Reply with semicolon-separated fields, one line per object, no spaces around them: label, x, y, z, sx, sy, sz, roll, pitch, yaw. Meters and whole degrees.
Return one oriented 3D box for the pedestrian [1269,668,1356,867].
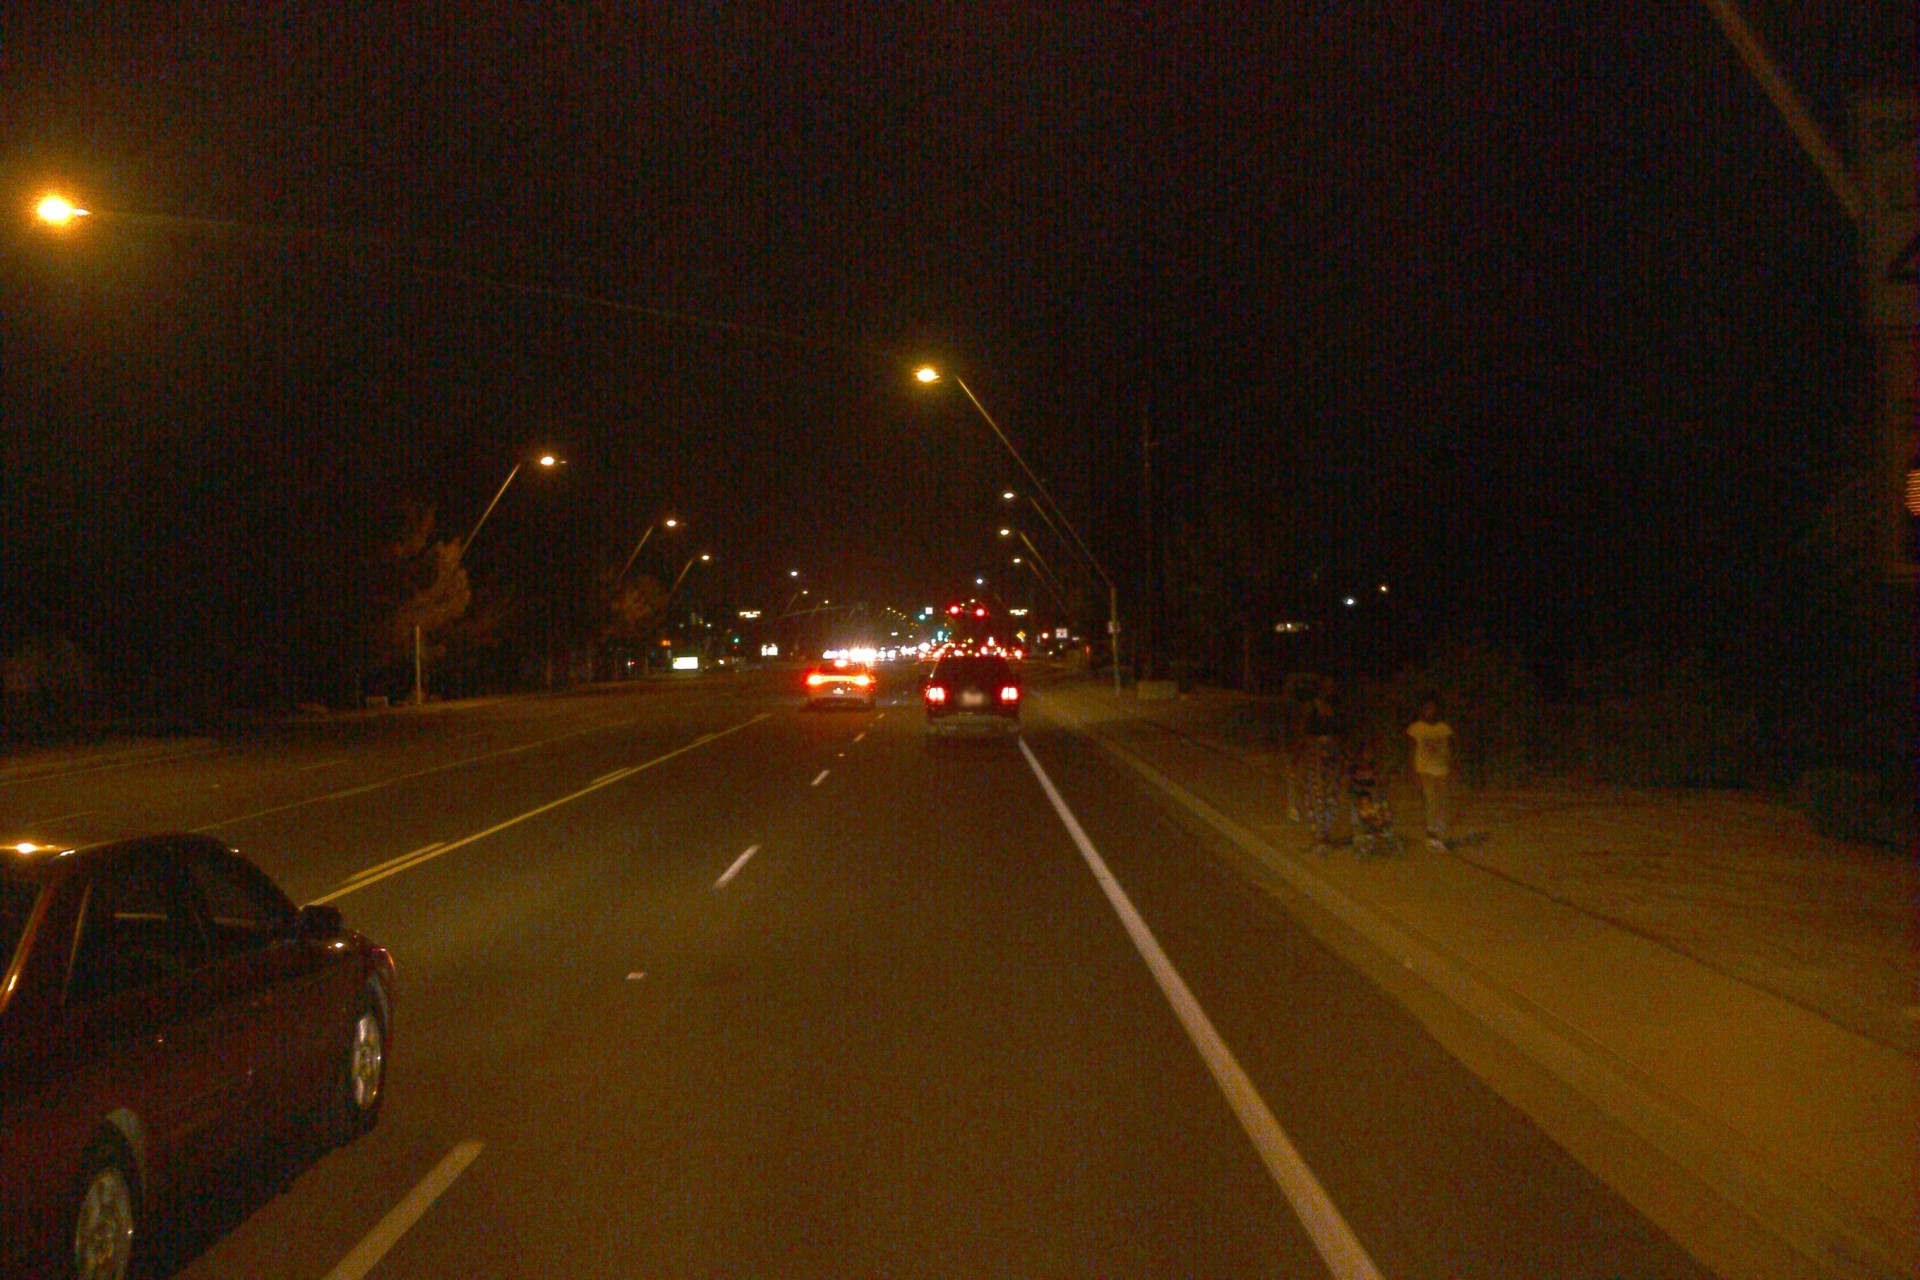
pedestrian;3.189;1.135;18.793;0.630;1.750;0.997;0;0;1

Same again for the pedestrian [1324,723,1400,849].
pedestrian;3.658;1.321;18.853;0.538;1.110;0.626;0;0;-3

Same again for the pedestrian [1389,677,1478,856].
pedestrian;4.179;1.105;18.296;0.601;1.540;0.683;0;0;-2
